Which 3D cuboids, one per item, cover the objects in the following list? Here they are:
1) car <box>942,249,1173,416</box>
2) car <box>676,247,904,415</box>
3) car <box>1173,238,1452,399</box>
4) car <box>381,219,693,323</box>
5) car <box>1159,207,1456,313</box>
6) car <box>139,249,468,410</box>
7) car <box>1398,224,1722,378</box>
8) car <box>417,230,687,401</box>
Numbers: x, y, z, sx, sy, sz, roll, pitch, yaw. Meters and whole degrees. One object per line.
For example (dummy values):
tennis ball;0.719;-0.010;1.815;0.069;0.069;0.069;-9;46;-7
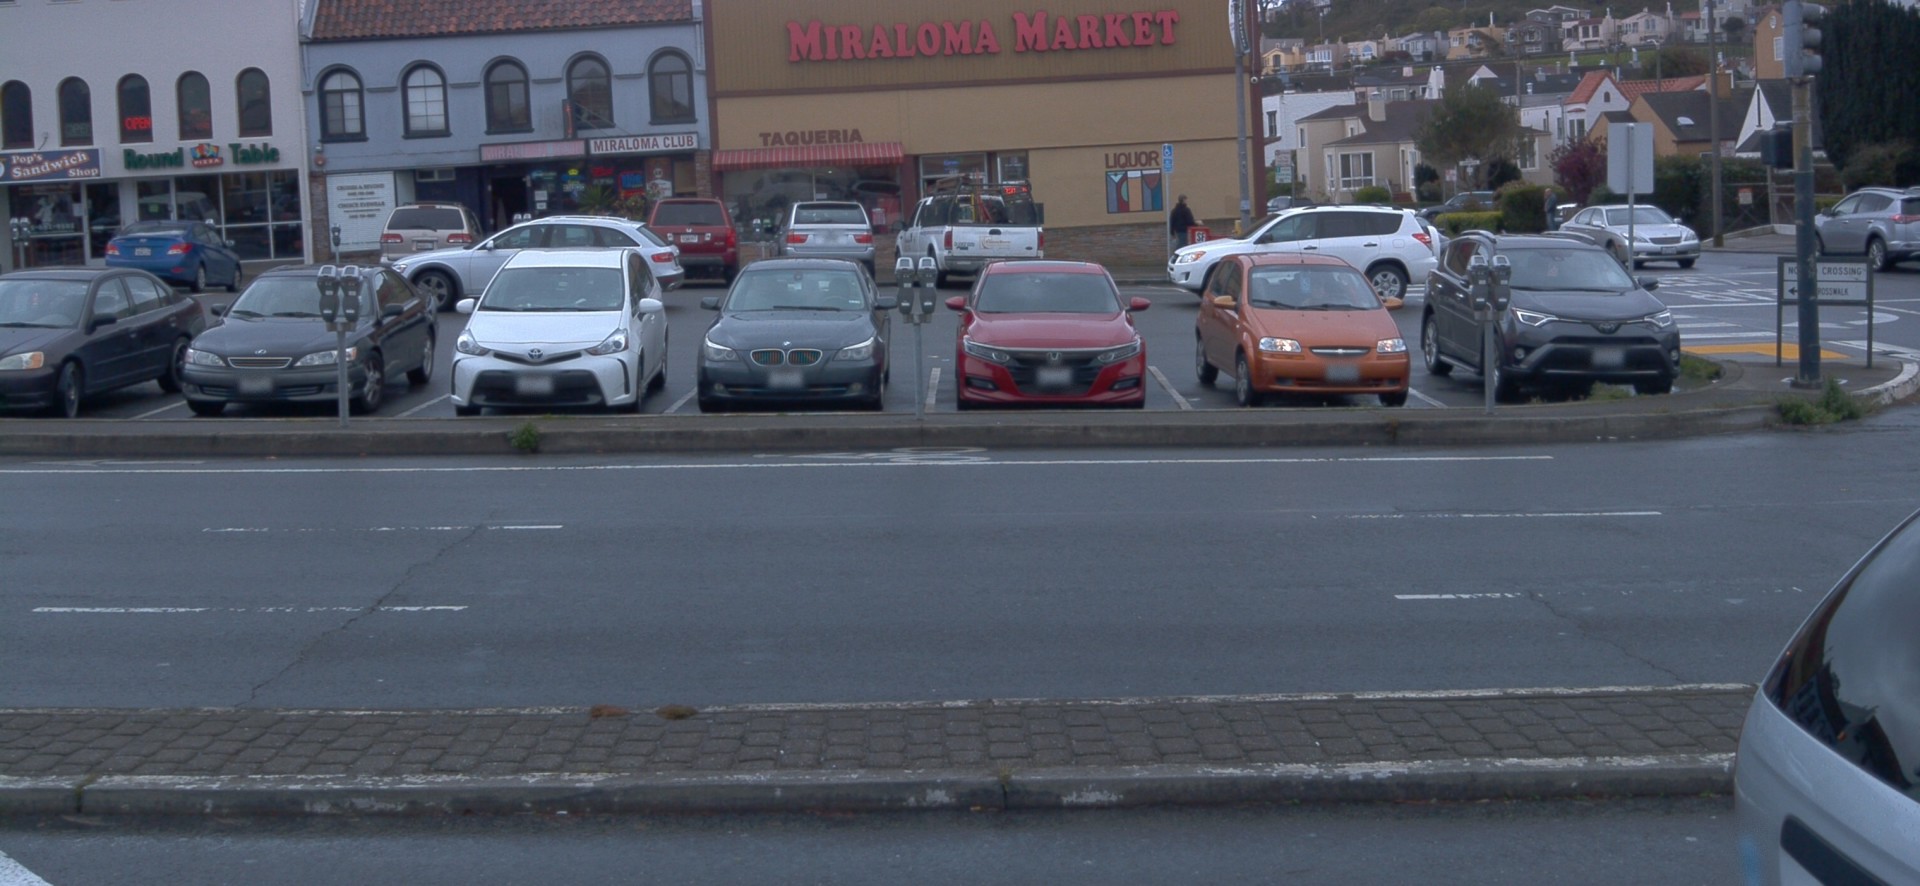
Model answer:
car;0.907;-1.267;21.830;2.185;1.461;4.636;0;6;-1
car;-1.658;-1.270;21.658;2.112;1.461;4.574;0;6;-1
car;3.597;-1.397;21.822;2.049;1.462;4.037;0;6;-4
car;-6.758;-2.812;33.373;4.656;1.604;2.079;0;5;-3
car;5.867;-3.155;35.280;4.740;1.734;2.064;0;4;-1
car;-6.719;-1.286;21.703;2.023;1.392;4.712;0;6;-1
car;6.389;-1.640;22.574;2.205;1.461;4.580;0;6;0
car;-4.053;-1.415;21.289;2.132;1.491;4.678;0;6;-4
